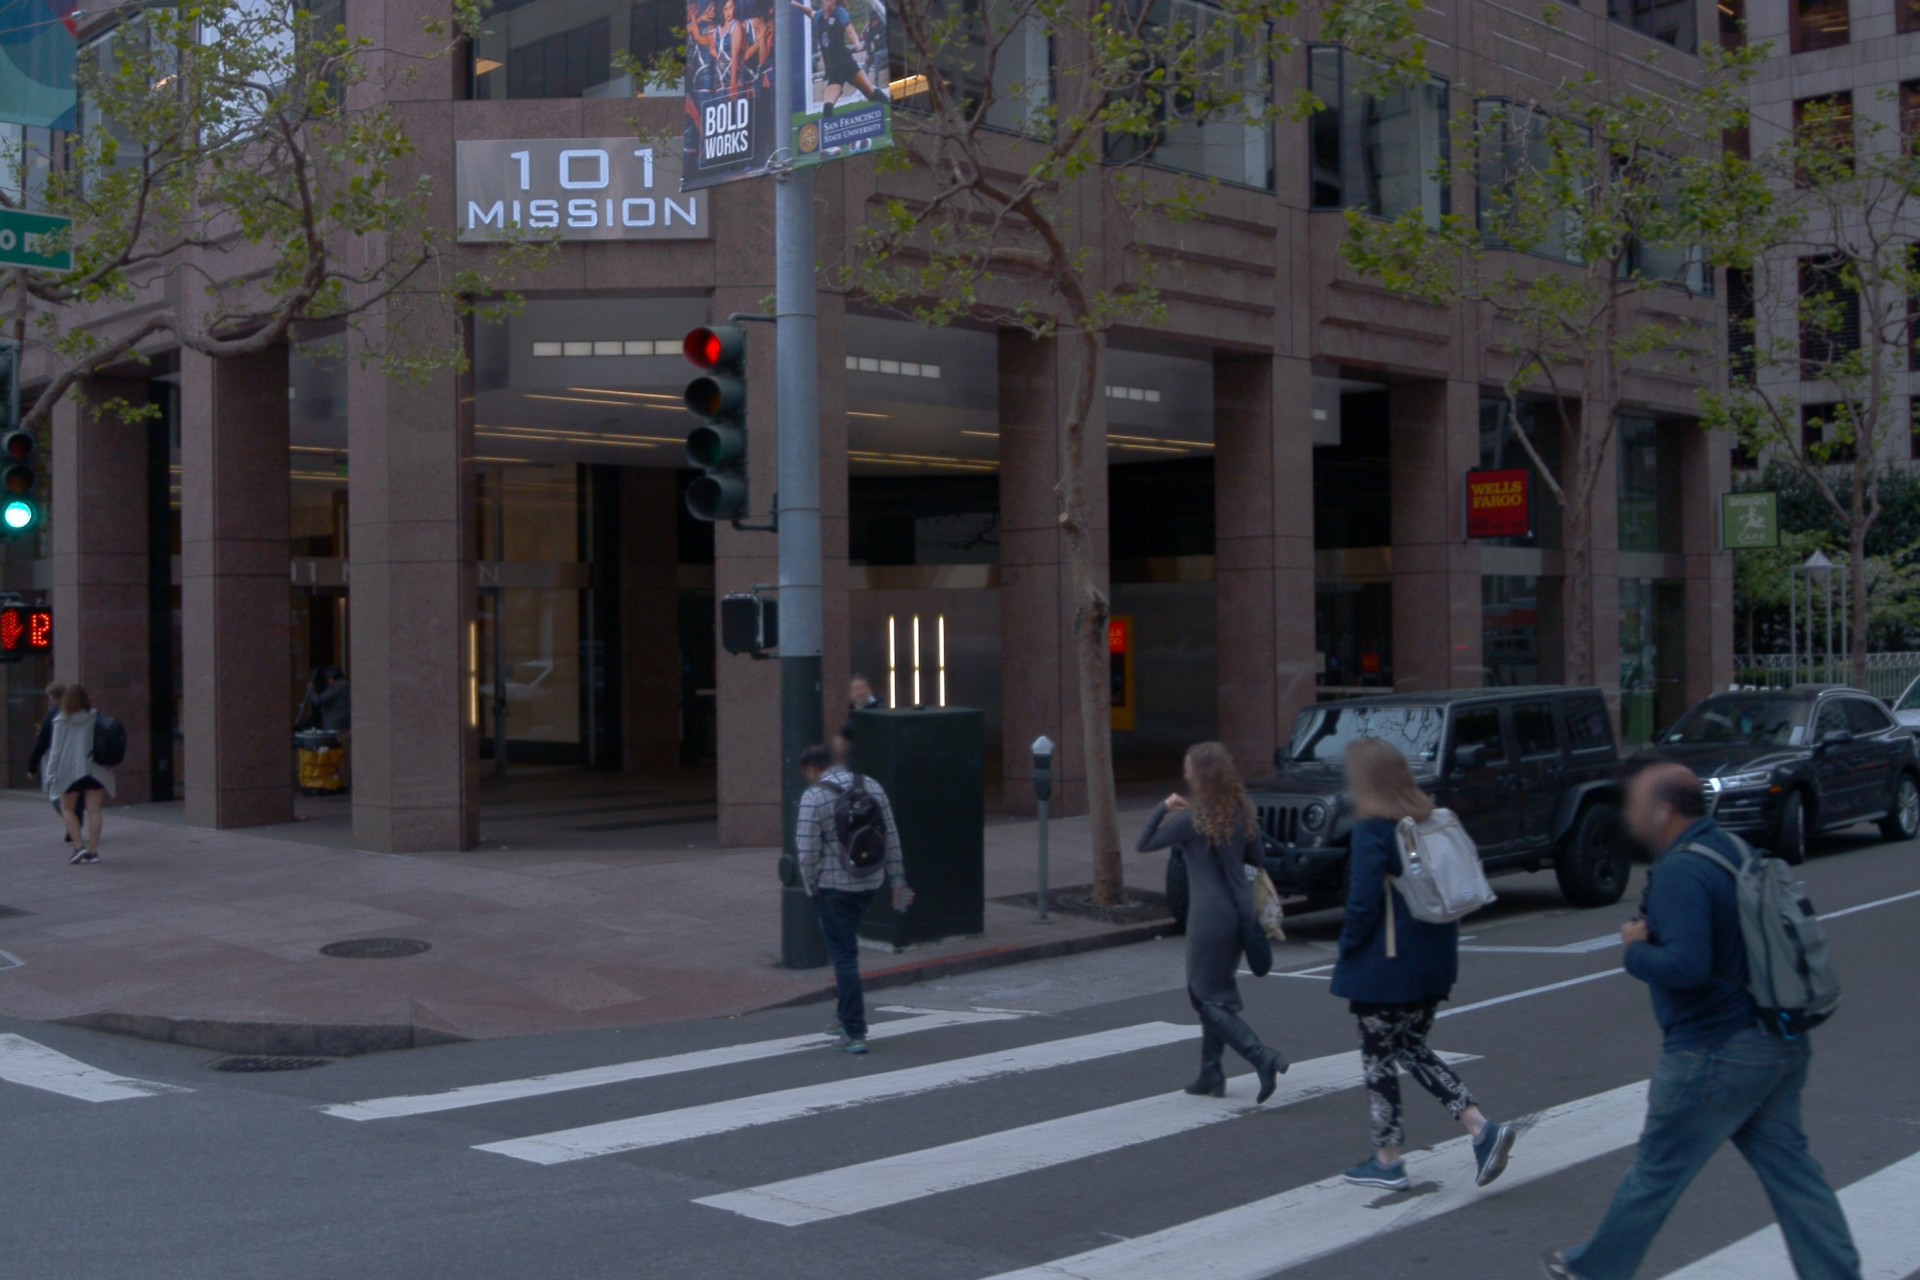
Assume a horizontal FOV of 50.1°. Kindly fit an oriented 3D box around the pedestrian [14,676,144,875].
[{"bbox_3d":[-8.608,1.292,20.086,0.966,1.856,0.838,0,0,42],"label":"pedestrian"}]

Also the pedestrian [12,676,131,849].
[{"bbox_3d":[-9.408,1.269,21.770,0.850,1.736,1.004,0,0,-45],"label":"pedestrian"}]

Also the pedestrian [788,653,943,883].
[{"bbox_3d":[-0.855,1.117,18.583,1.067,1.985,0.895,0,0,-44],"label":"pedestrian"}]

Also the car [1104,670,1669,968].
[{"bbox_3d":[3.638,1.288,16.875,4.963,1.950,2.149,-1,1,-45],"label":"car"}]

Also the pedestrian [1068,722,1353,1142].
[{"bbox_3d":[1.139,1.267,9.384,0.841,1.726,0.975,0,0,-45],"label":"pedestrian"}]

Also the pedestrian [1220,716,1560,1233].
[{"bbox_3d":[1.600,1.177,7.710,0.748,1.726,0.990,0,0,-40],"label":"pedestrian"}]

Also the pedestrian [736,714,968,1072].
[{"bbox_3d":[-0.606,1.347,11.406,0.777,1.816,1.066,0,0,-42],"label":"pedestrian"}]
